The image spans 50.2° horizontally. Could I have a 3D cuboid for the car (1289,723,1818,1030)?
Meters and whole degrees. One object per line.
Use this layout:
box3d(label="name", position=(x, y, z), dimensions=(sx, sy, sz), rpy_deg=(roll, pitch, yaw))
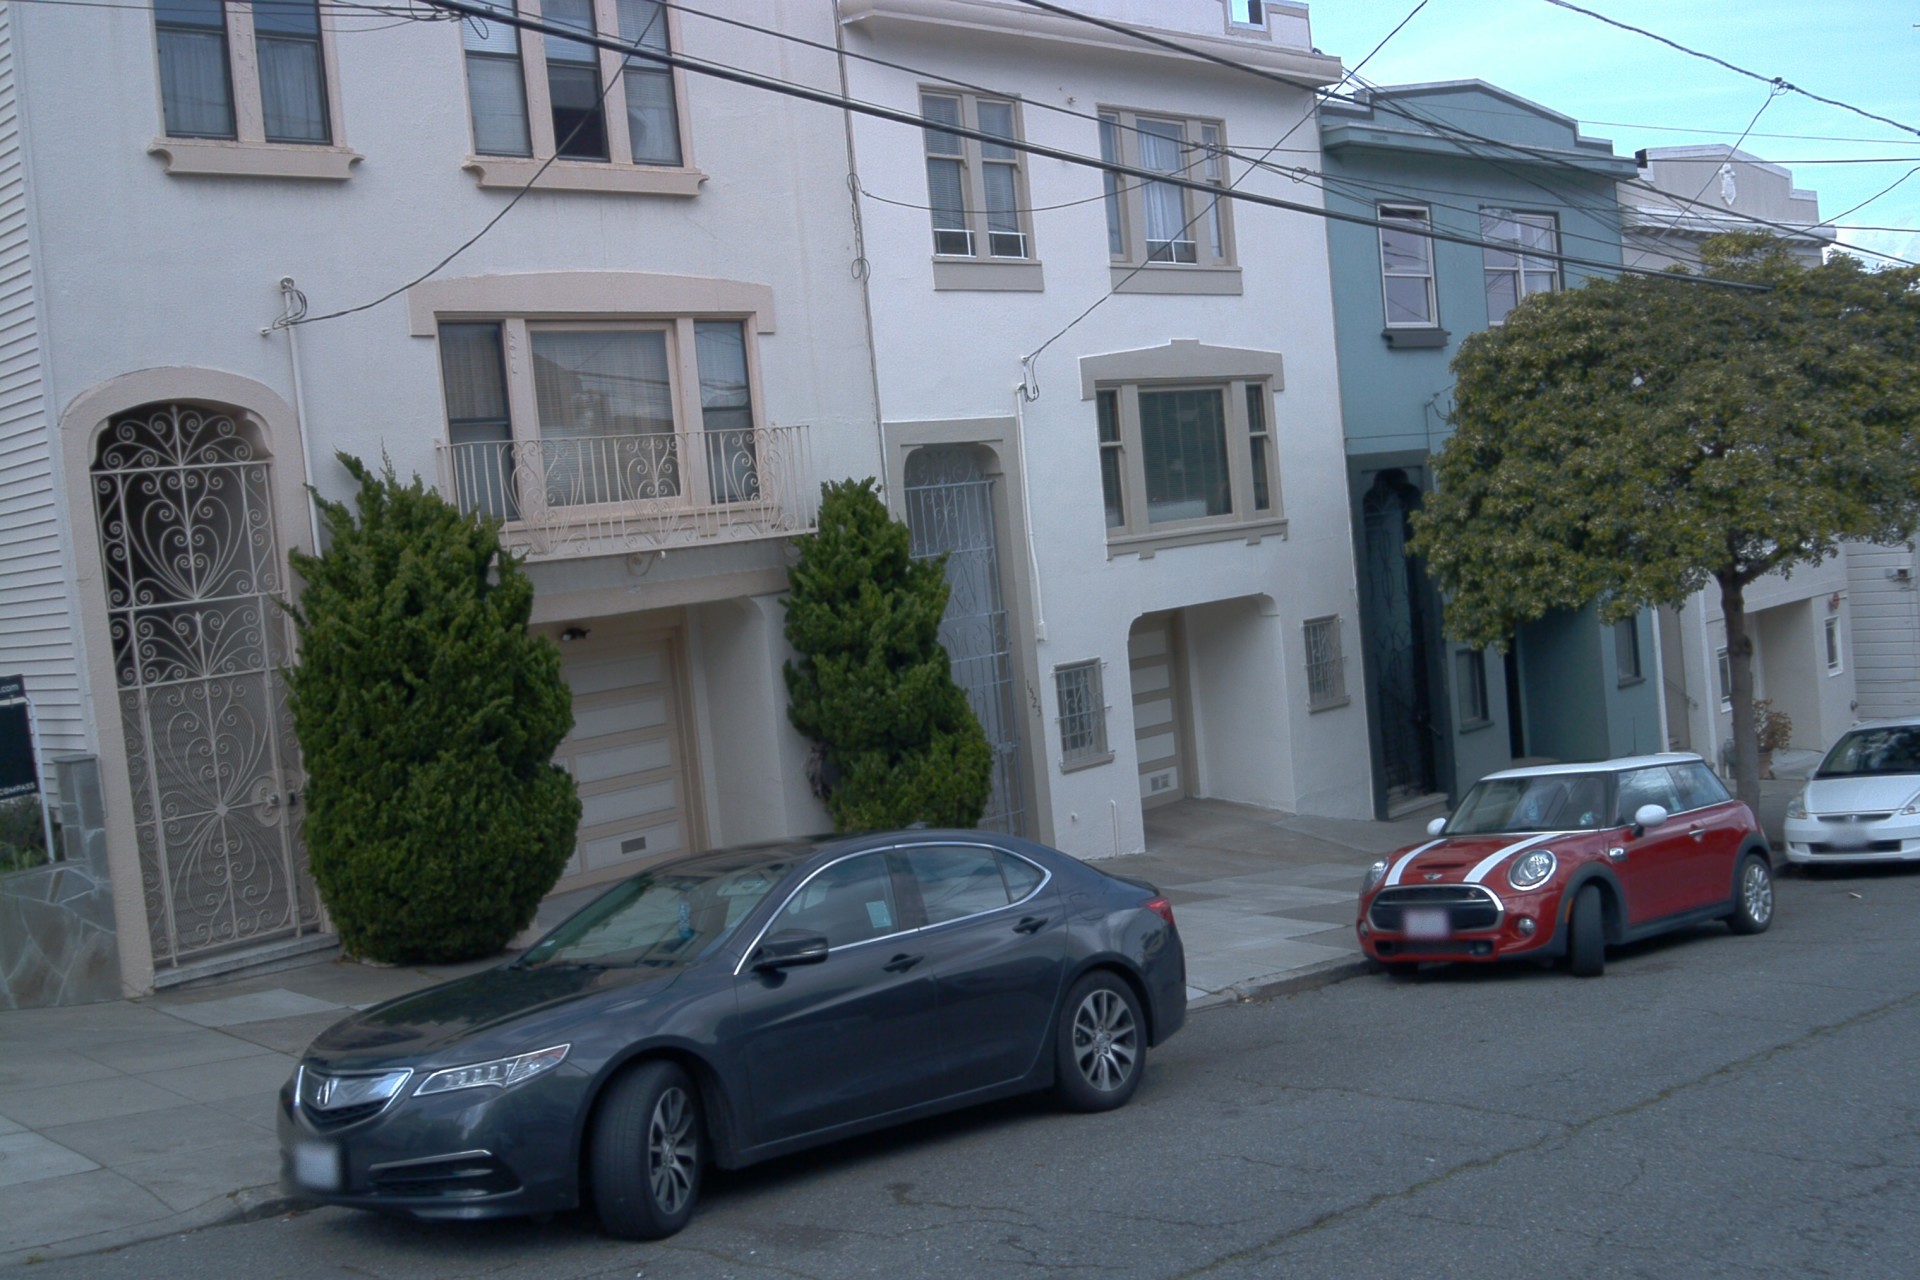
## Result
box3d(label="car", position=(4.421, 1.570, 14.966), dimensions=(3.983, 1.710, 1.995), rpy_deg=(0, 1, -44))

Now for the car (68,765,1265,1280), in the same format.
box3d(label="car", position=(-1.027, 1.604, 9.155), dimensions=(2.300, 1.730, 4.911), rpy_deg=(1, 1, 44))
